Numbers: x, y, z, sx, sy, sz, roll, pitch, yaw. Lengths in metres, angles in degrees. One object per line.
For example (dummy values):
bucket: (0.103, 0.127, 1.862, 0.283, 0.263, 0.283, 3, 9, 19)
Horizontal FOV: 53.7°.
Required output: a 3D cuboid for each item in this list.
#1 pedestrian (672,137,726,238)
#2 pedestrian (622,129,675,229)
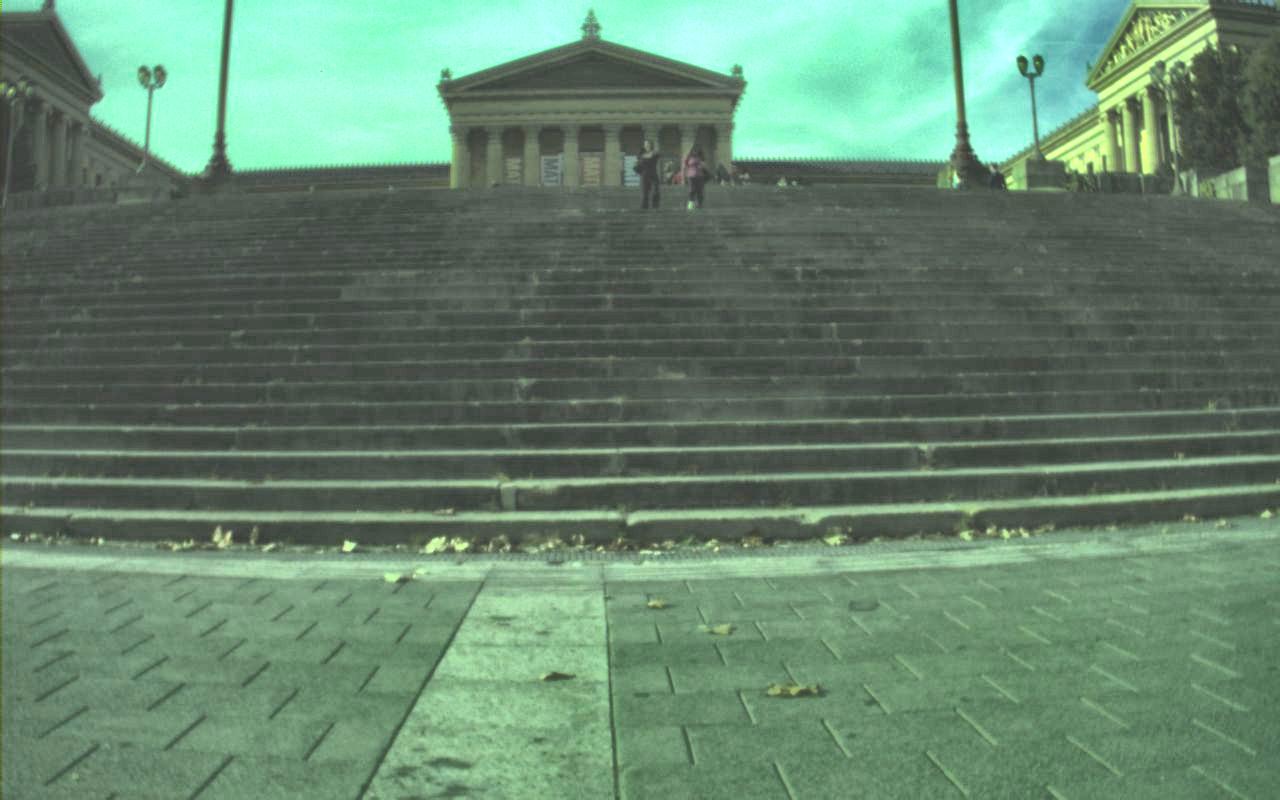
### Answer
pedestrian: (1.142, -4.135, 24.506, 0.898, 1.846, 0.925, 0, 0, -8)
pedestrian: (0.172, -4.165, 23.725, 0.817, 1.788, 0.827, 0, 0, 15)
